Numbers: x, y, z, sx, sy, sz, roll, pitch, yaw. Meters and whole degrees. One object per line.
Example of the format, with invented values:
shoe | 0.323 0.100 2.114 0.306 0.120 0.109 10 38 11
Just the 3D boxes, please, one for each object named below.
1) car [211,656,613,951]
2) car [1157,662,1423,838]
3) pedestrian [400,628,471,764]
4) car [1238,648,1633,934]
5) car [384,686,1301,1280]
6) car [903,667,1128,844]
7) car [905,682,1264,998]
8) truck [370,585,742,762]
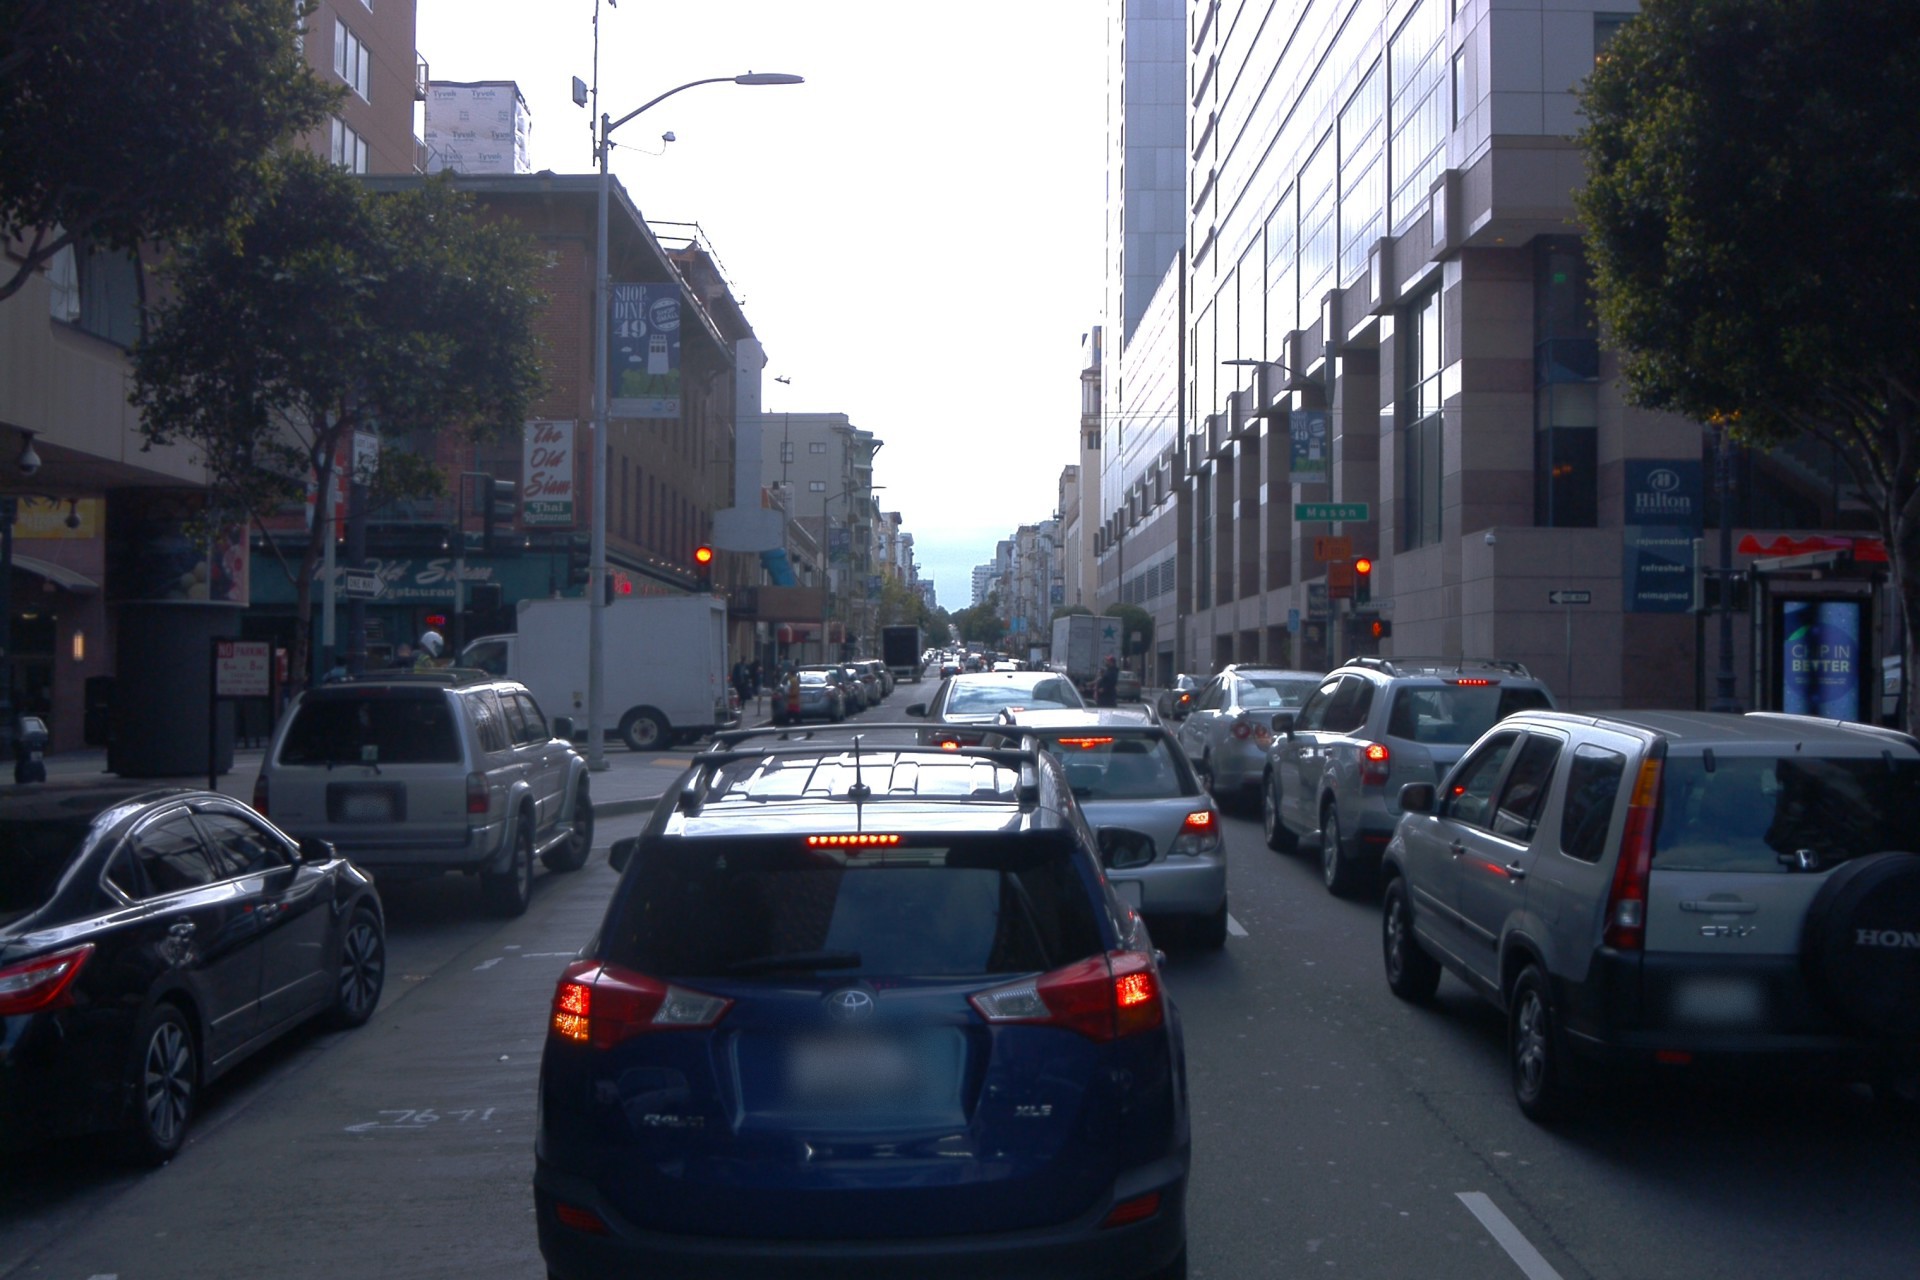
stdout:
car | -4.075 1.115 16.153 1.995 1.880 4.690 0 1 -1
car | 3.433 1.091 22.355 2.063 1.590 4.797 0 1 -1
pedestrian | -7.421 0.779 29.078 0.708 1.880 0.658 0 1 29
car | 3.557 1.038 16.340 2.029 1.870 4.665 0 1 0
car | -0.294 1.161 7.187 2.184 1.830 4.555 0 1 0
car | 0.458 1.095 21.245 2.074 1.500 4.589 0 1 -1
car | 0.755 1.184 13.994 2.030 1.630 4.708 0 1 1
truck | -6.734 0.538 34.721 5.804 2.890 2.235 0 1 2
